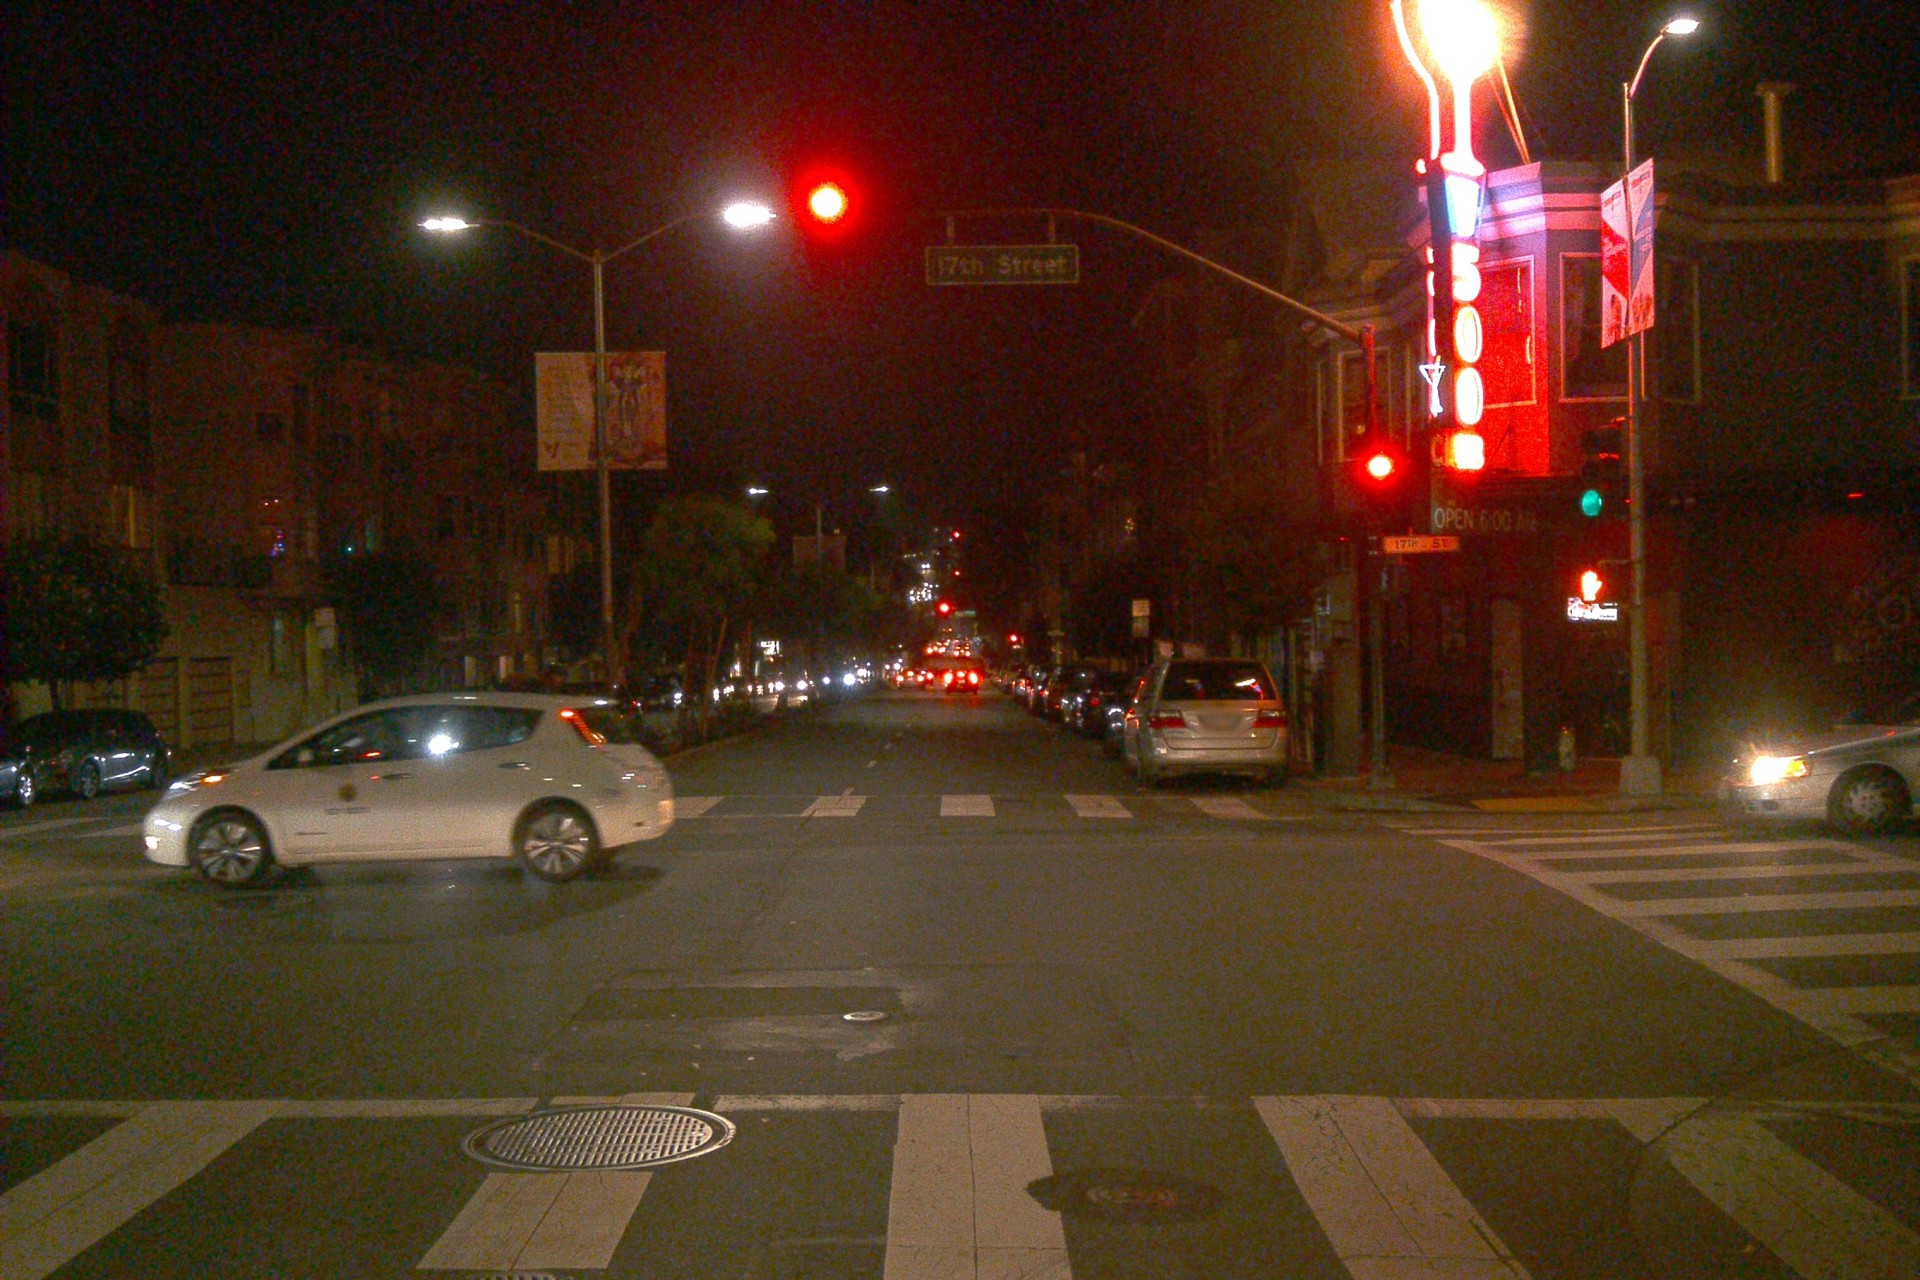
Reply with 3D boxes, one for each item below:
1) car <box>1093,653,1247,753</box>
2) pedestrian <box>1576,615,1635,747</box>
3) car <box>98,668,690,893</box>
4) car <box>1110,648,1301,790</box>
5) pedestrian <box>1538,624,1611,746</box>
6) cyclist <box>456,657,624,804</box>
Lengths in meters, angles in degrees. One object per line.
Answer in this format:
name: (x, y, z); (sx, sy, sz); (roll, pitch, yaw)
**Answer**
car: (3.325, 0.968, 33.306); (1.810, 1.470, 4.216); (1, 0, -3)
pedestrian: (9.053, 0.569, 28.827); (0.739, 1.820, 0.628); (1, 0, 20)
car: (-4.672, 1.132, 17.431); (4.442, 1.720, 1.937); (1, 0, 2)
car: (3.291, 1.011, 28.468); (2.087, 1.770, 4.655); (1, 0, 0)
pedestrian: (8.816, 0.636, 29.497); (0.721, 1.720, 0.691); (1, 0, -18)
cyclist: (-5.211, 1.098, 25.491); (1.916, 1.760, 0.823); (1, 0, -21)
